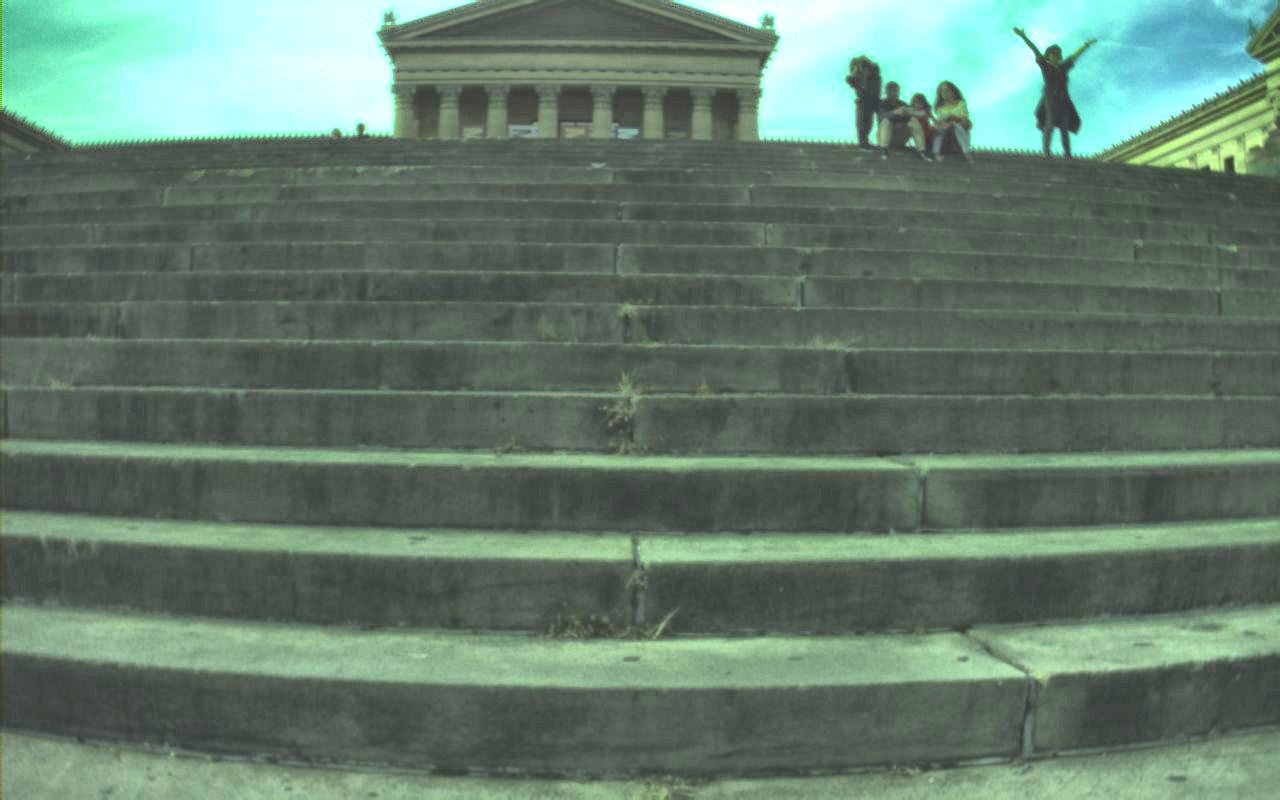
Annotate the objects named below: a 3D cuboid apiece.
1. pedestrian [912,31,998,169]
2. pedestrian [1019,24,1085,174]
[{"bbox_3d":[3.748,-3.557,14.466,0.753,1.497,0.800,0,0,-9],"label":"pedestrian"},{"bbox_3d":[5.379,-3.895,15.472,0.685,1.871,0.675,1,0,28],"label":"pedestrian"}]
